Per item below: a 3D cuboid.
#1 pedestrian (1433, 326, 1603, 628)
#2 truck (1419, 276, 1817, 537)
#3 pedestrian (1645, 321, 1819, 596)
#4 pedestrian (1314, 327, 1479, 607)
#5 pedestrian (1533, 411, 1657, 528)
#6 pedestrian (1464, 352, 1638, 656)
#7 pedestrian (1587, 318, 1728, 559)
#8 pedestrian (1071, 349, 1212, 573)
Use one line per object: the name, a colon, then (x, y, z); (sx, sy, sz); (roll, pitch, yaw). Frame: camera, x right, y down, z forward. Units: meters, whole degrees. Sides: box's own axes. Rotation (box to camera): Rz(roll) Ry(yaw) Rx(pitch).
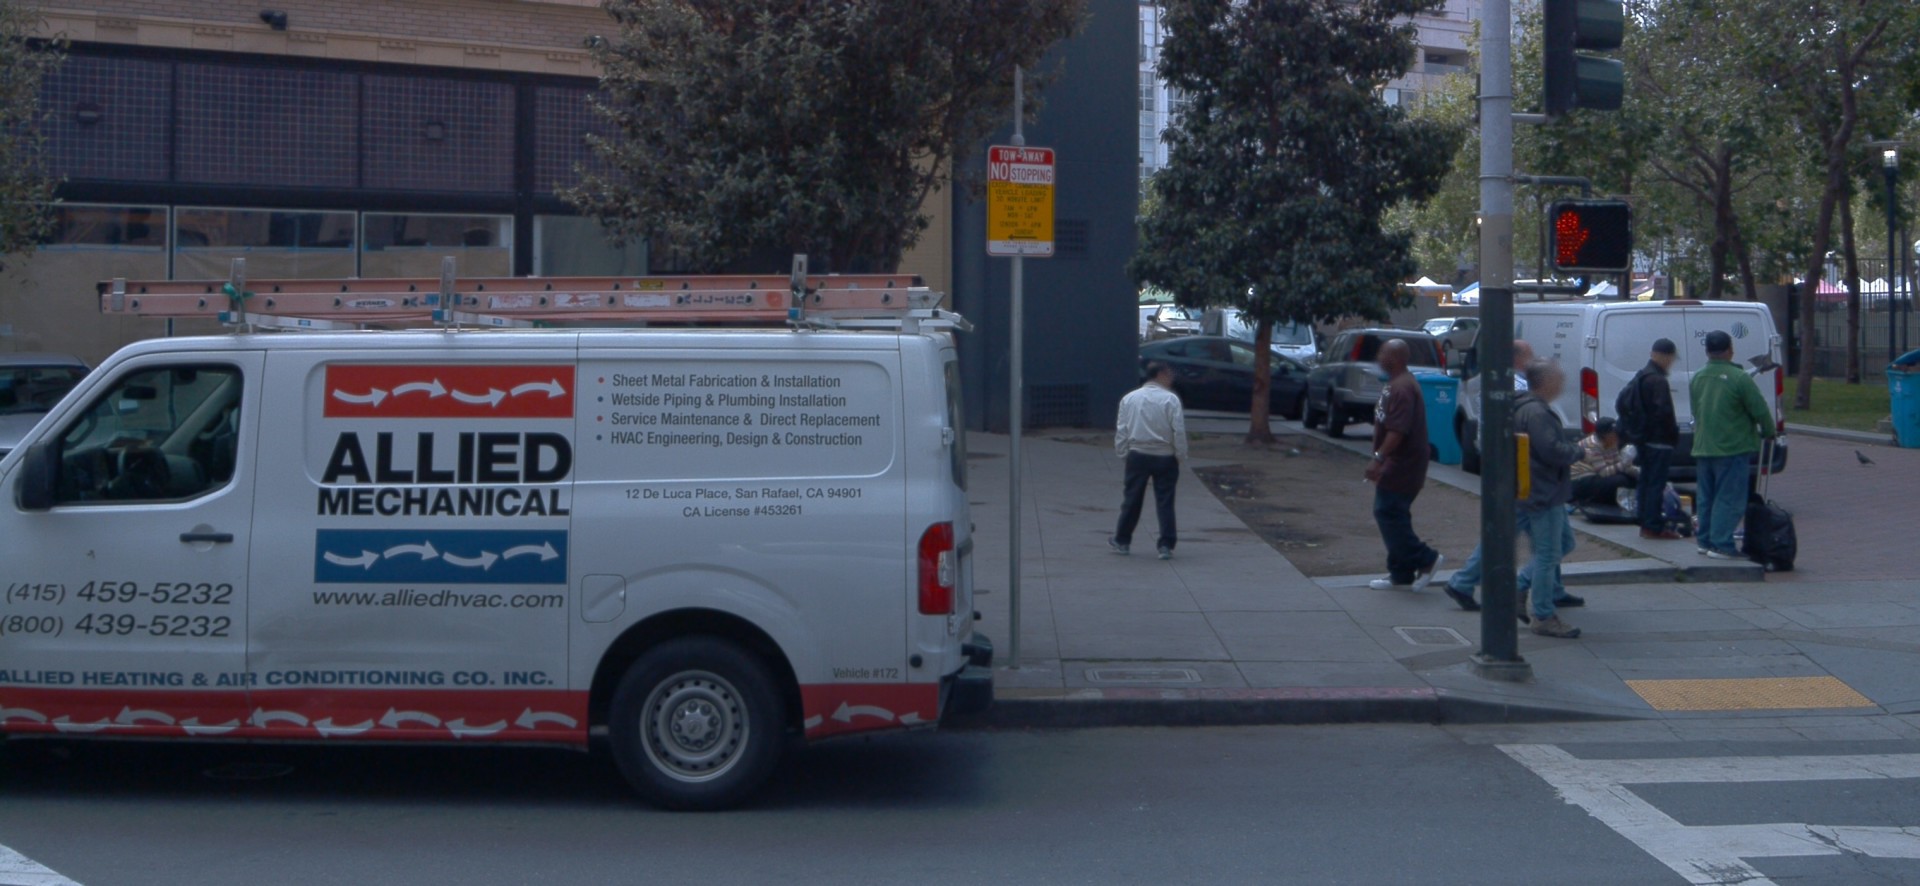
pedestrian: (3.651, 0.188, 13.602); (0.901, 1.856, 0.982); (0, 2, 4)
truck: (6.747, -0.572, 22.089); (2.384, 2.188, 5.920); (-1, 6, 0)
pedestrian: (5.642, 0.071, 15.095); (0.992, 1.846, 0.966); (1, 3, 34)
pedestrian: (2.994, 0.143, 14.248); (0.979, 1.826, 0.781); (0, 2, 2)
pedestrian: (5.621, 0.223, 18.326); (0.849, 0.938, 0.688); (-1, 3, -4)
pedestrian: (3.603, 0.339, 12.673); (0.845, 1.726, 0.949); (0, 2, 4)
pedestrian: (5.473, -0.067, 16.265); (0.924, 1.786, 0.901); (0, 2, 10)
pedestrian: (1.431, 0.115, 16.337); (0.820, 1.647, 0.737); (-2, 2, -30)
